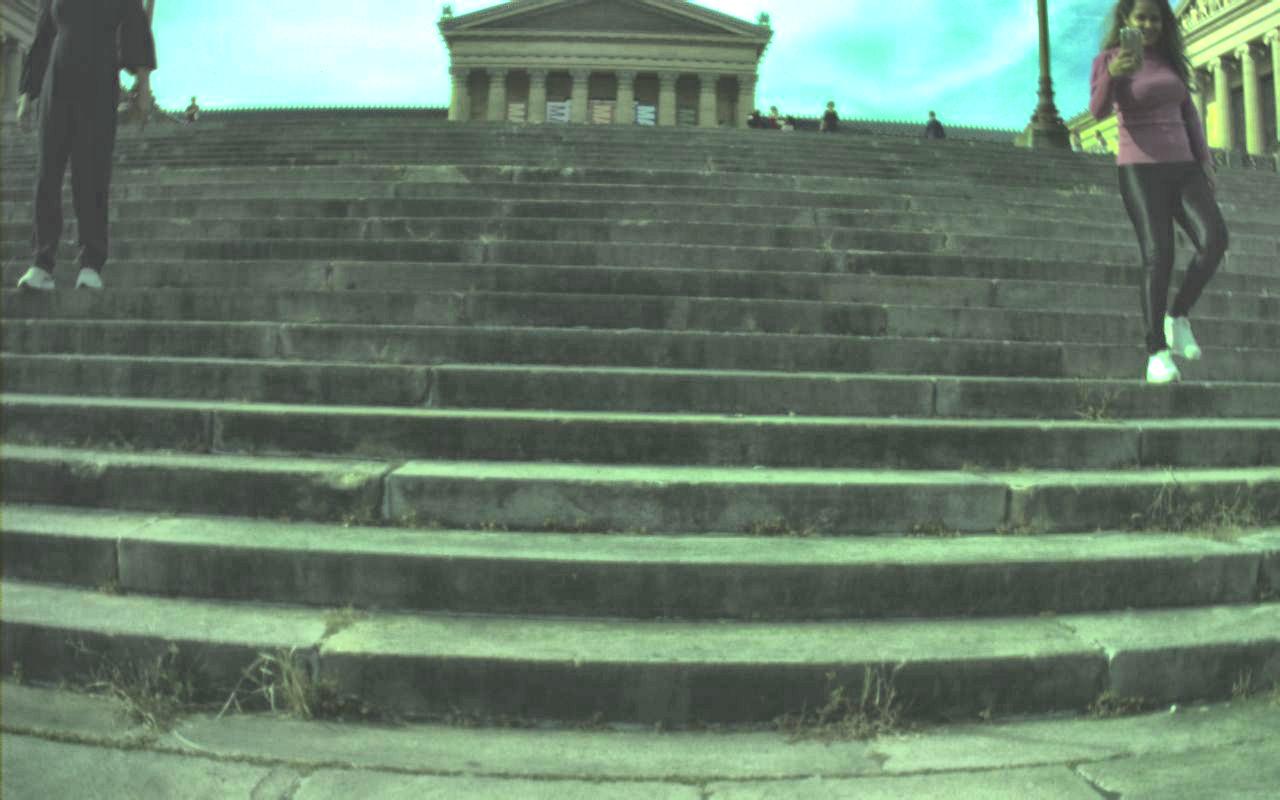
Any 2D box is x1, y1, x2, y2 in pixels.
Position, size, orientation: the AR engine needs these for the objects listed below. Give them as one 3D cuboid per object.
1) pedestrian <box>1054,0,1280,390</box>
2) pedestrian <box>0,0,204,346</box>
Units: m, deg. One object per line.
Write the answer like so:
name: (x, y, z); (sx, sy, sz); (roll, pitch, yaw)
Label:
pedestrian: (1.925, -0.856, 4.212); (0.765, 1.638, 0.812); (1, 0, 19)
pedestrian: (-2.412, -1.047, 4.662); (0.810, 1.660, 0.822); (1, 0, 15)
